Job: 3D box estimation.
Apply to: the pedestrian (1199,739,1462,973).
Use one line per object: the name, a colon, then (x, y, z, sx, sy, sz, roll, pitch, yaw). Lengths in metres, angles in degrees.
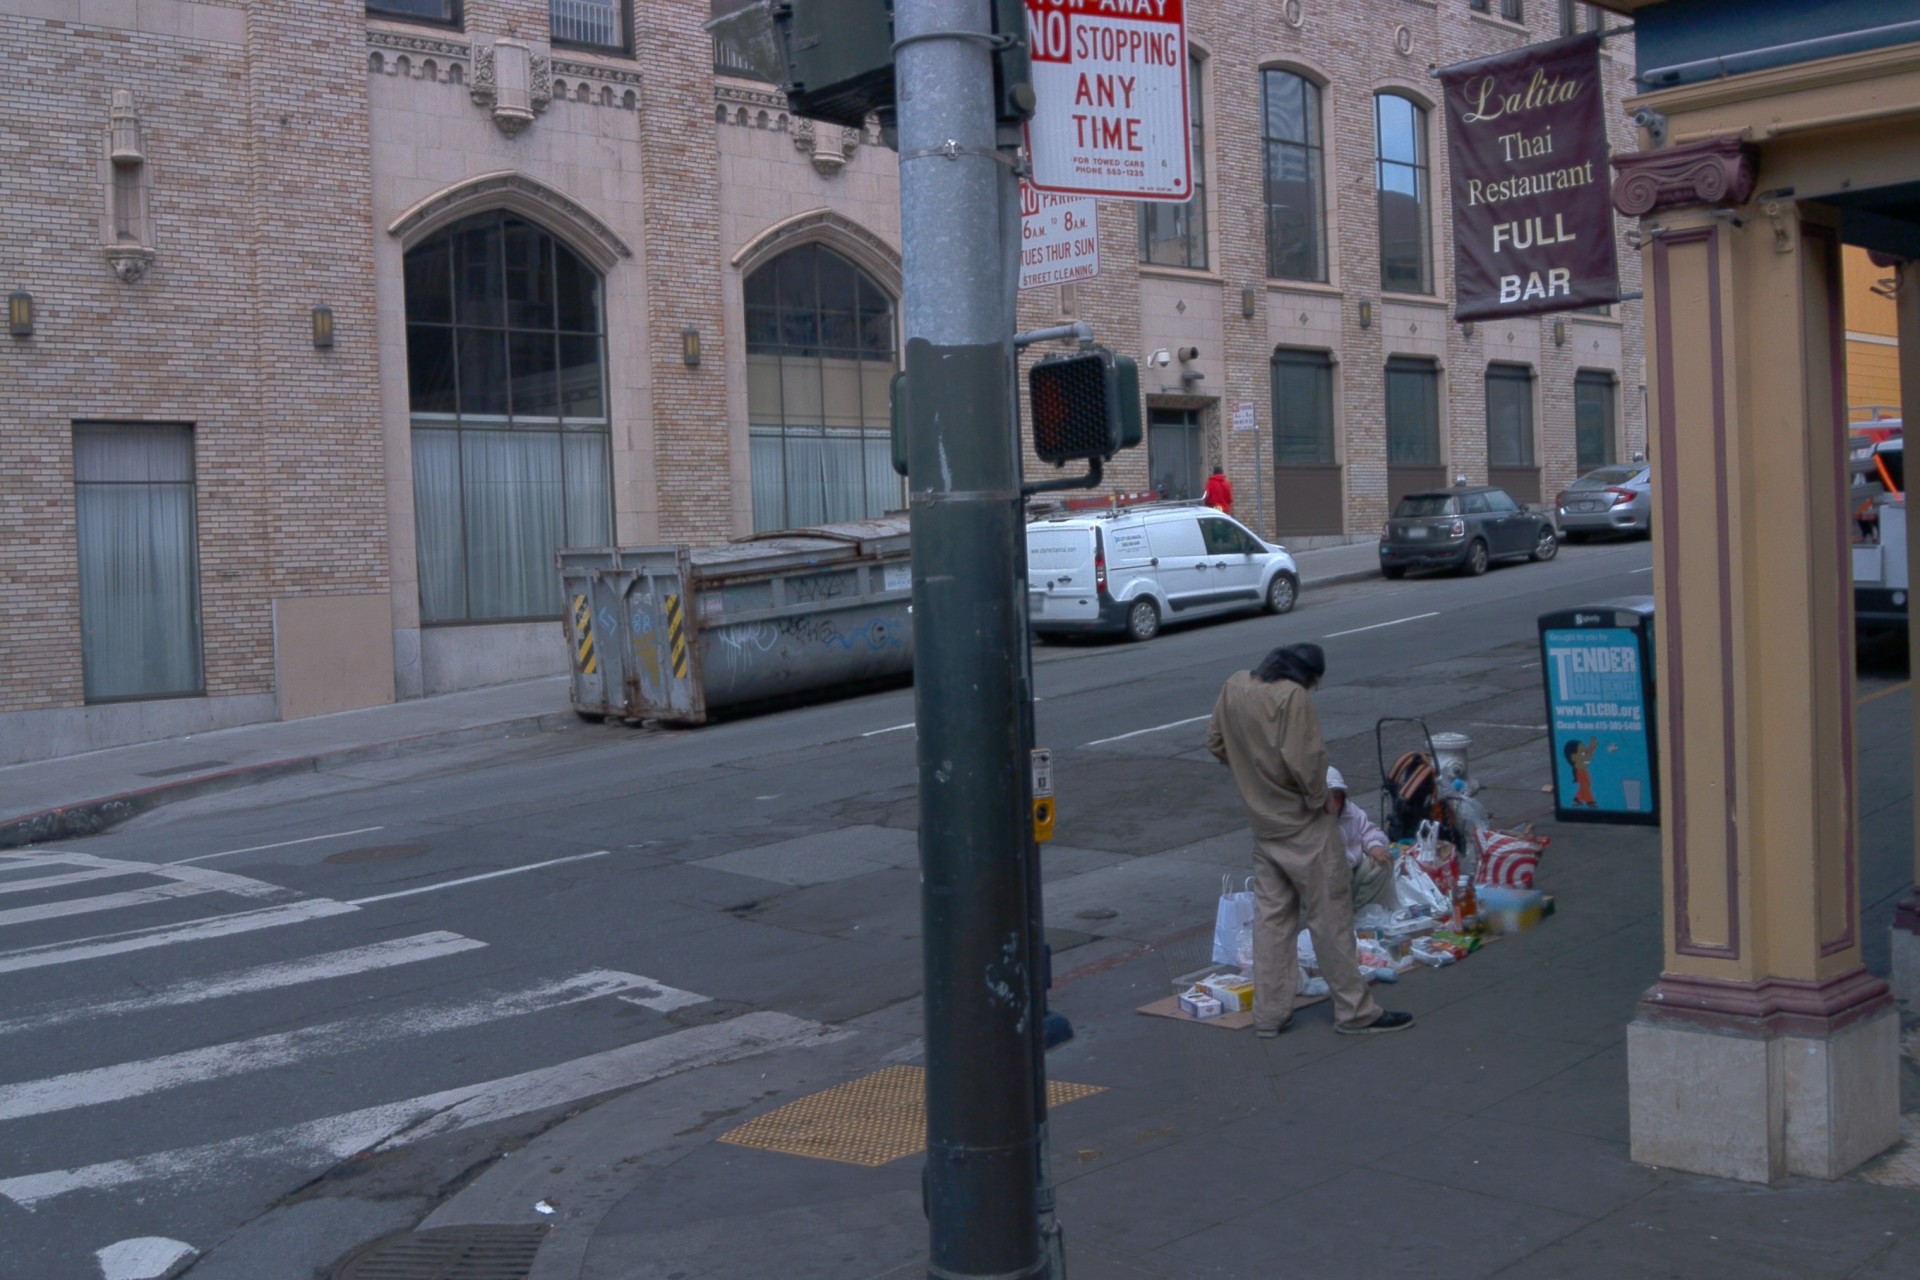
pedestrian: (1.757, 0.989, 9.758, 0.871, 0.970, 0.870, 0, 0, -41)

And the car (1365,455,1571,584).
car: (8.541, -1.957, 34.439, 1.744, 1.980, 3.738, 0, 1, 43)

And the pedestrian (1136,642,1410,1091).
pedestrian: (1.272, 0.849, 8.266, 0.888, 1.670, 0.837, 0, 0, 25)

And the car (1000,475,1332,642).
car: (2.993, -1.081, 29.124, 4.848, 2.170, 2.020, -1, 1, -44)
